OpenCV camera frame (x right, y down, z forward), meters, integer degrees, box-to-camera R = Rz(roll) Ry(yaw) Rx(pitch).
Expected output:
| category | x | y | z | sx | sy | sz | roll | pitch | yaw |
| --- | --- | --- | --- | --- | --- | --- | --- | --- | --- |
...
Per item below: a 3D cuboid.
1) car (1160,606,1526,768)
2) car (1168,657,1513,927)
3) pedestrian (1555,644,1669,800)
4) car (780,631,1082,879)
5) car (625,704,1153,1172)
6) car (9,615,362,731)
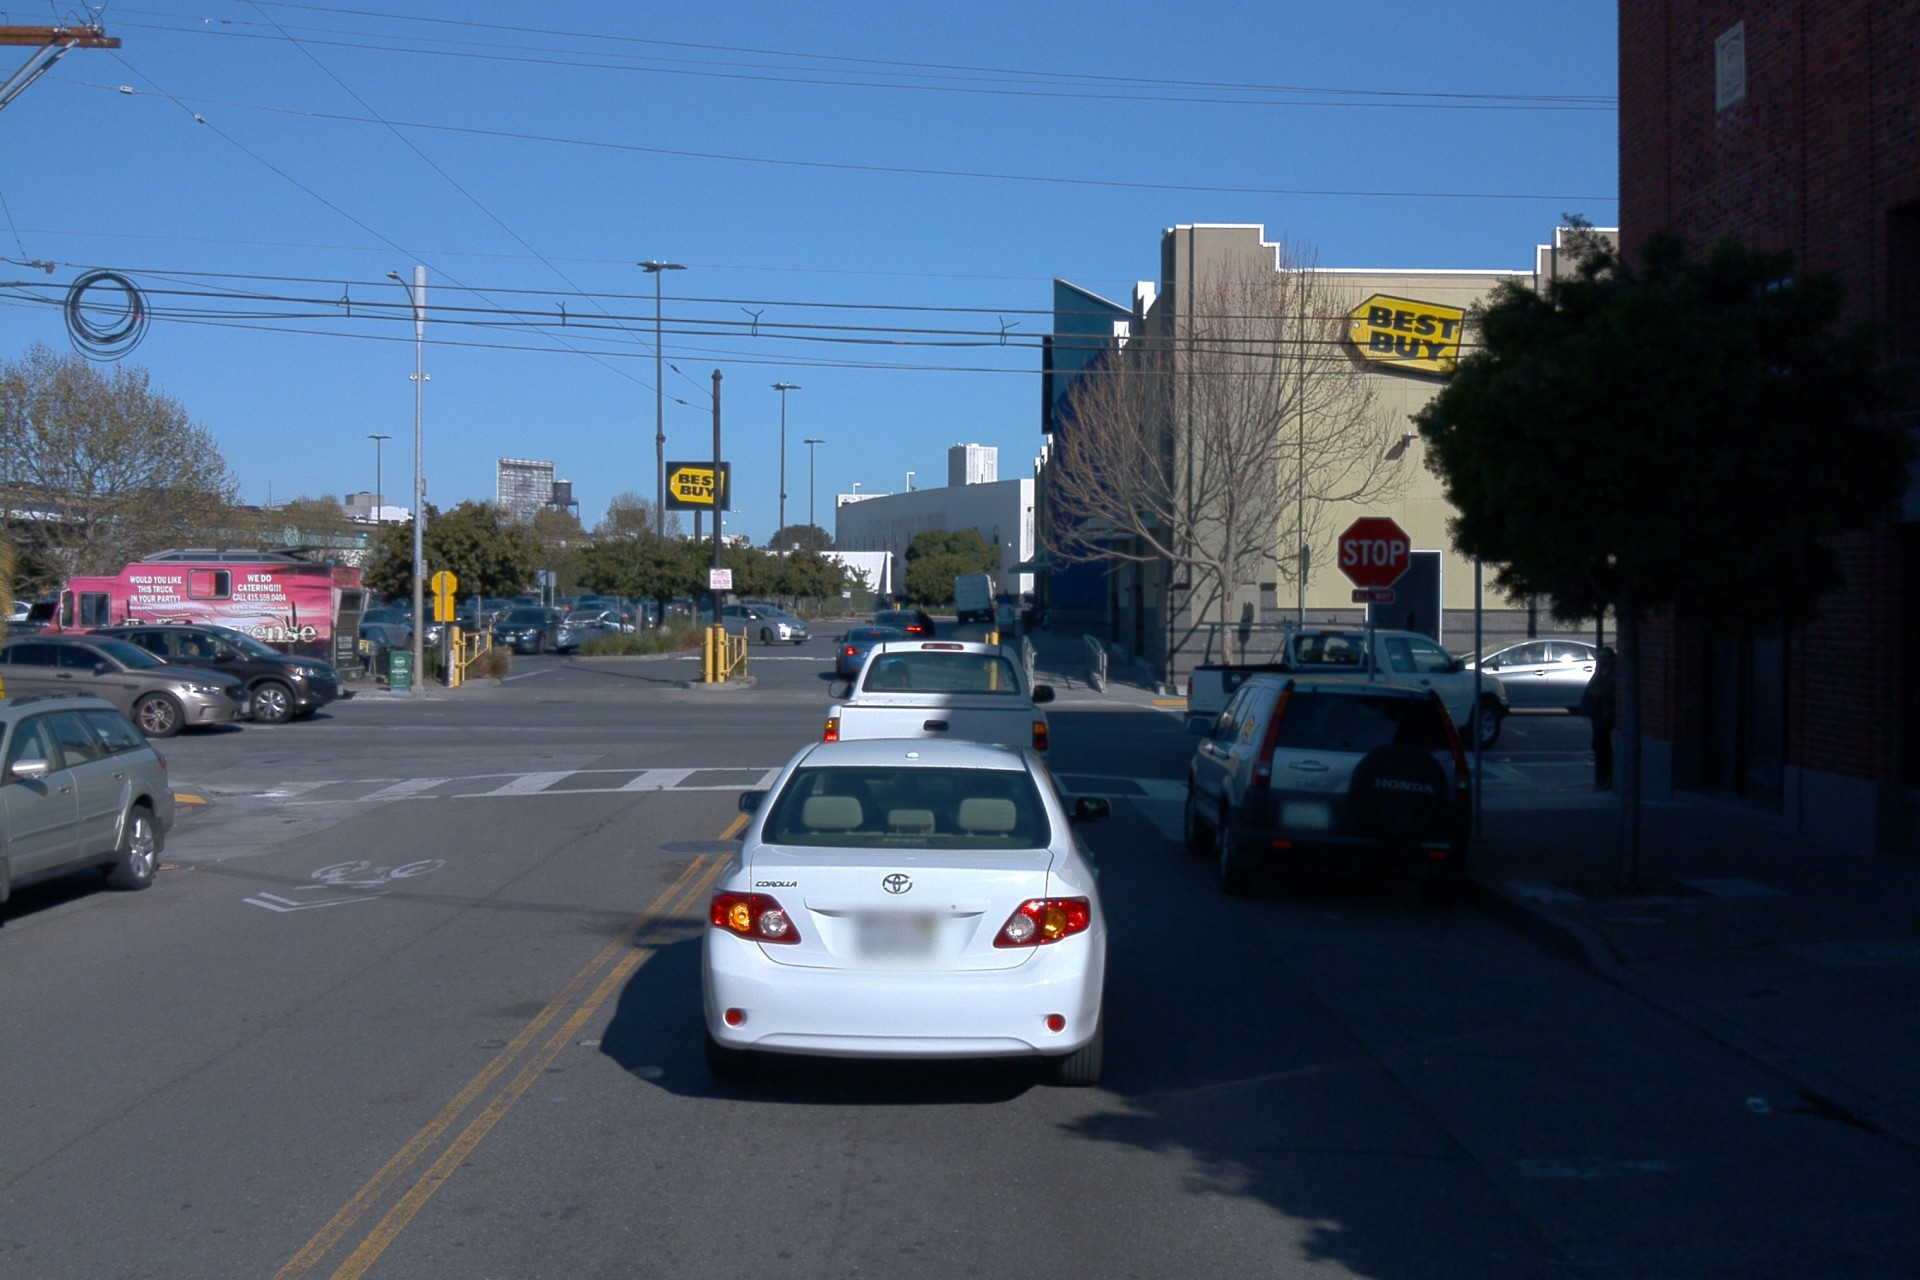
| category | x | y | z | sx | sy | sz | roll | pitch | yaw |
| --- | --- | --- | --- | --- | --- | --- | --- | --- | --- |
| car | 5.719 | 0.620 | 30.246 | 5.549 | 2.140 | 2.389 | 0 | 1 | -42 |
| car | 2.857 | 1.074 | 16.442 | 2.017 | 1.730 | 4.285 | 1 | 1 | 1 |
| pedestrian | 7.804 | 0.967 | 24.651 | 1.038 | 1.802 | 0.872 | 1 | 1 | 0 |
| car | -0.195 | 0.905 | 19.246 | 2.386 | 1.880 | 5.557 | 1 | 1 | 1 |
| car | -0.226 | 1.236 | 10.307 | 2.045 | 1.580 | 4.504 | 1 | 1 | 1 |
| car | -12.871 | 0.528 | 34.427 | 5.153 | 1.790 | 2.032 | 1 | 1 | -4 |
